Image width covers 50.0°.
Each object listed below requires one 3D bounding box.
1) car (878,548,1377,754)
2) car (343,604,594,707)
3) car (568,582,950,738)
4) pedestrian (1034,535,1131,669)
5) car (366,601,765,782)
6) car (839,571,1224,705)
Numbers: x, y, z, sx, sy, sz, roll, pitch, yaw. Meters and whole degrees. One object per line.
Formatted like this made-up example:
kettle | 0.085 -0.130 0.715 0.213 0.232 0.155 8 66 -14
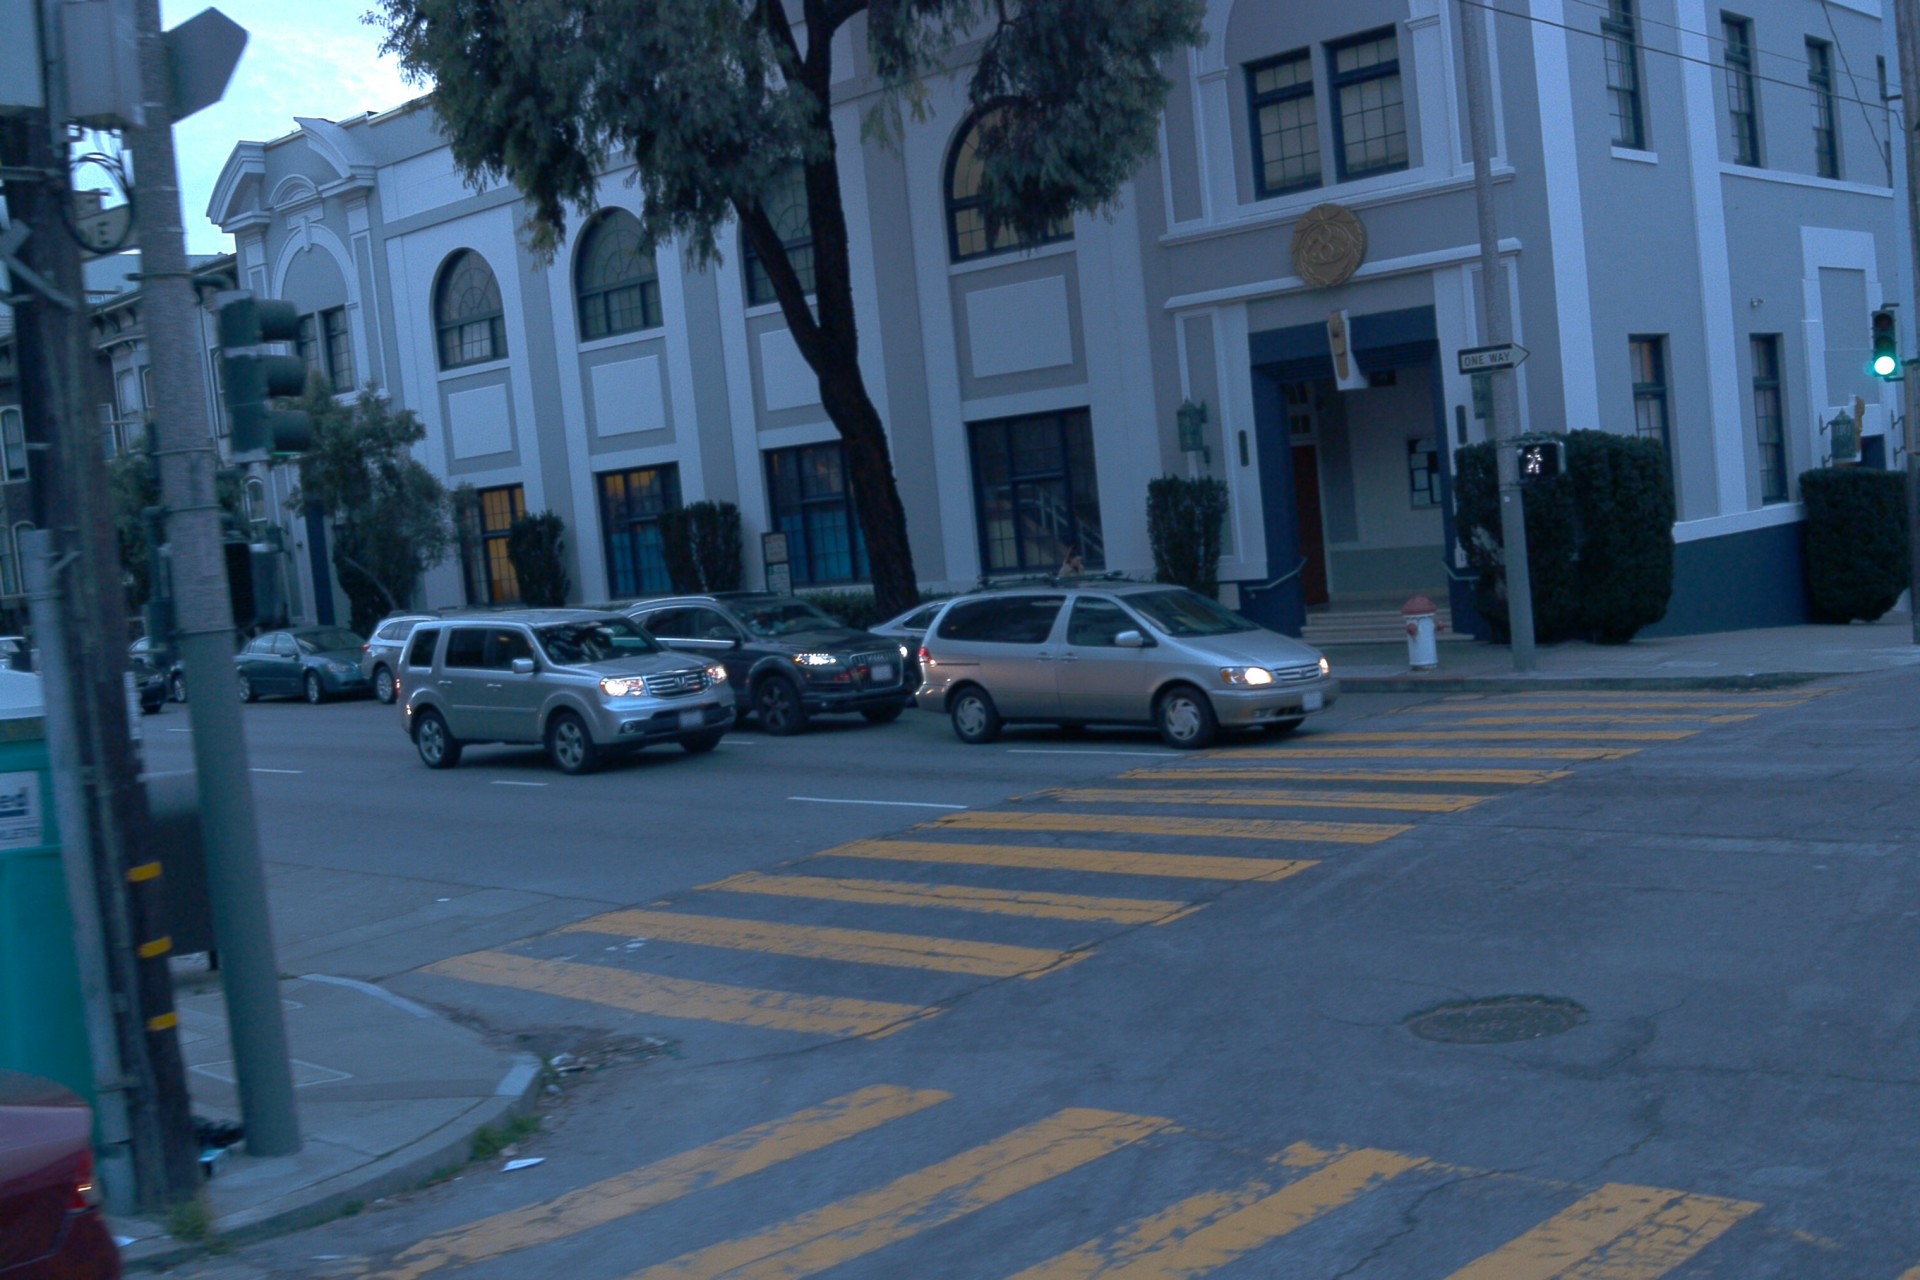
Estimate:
car | 1.677 0.062 21.935 4.978 1.950 2.238 1 1 44
car | -8.774 0.226 36.445 4.747 1.680 2.151 1 1 45
car | -2.690 0.191 26.580 4.978 1.820 2.228 1 1 44
pedestrian | 1.784 -0.547 29.889 1.087 1.903 0.865 1 1 43
car | -4.727 0.508 24.204 4.735 1.900 2.269 1 1 44
car | 0.863 -0.065 27.272 4.891 1.610 2.152 1 1 44
